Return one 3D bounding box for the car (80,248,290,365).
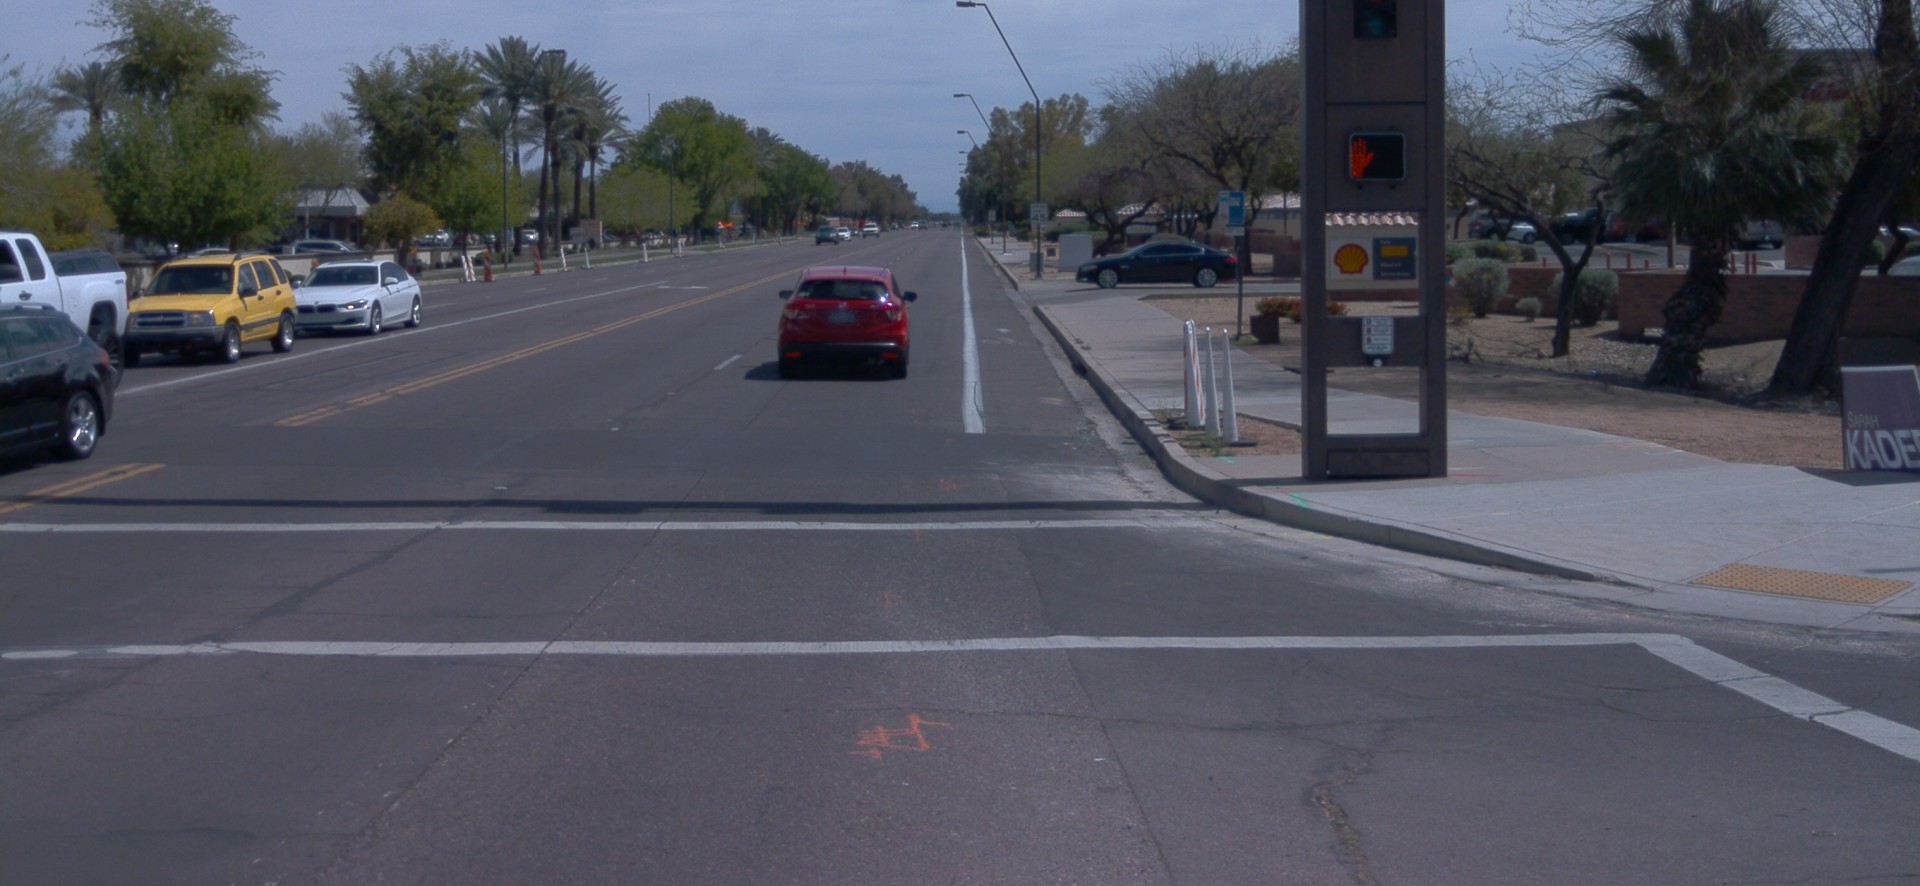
[{"bbox_3d":[-12.202,-2.230,33.154,1.805,1.714,4.042,0,5,0],"label":"car"}]

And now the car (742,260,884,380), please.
[{"bbox_3d":[-2.091,-1.869,30.701,1.901,1.604,4.060,0,5,-2],"label":"car"}]
